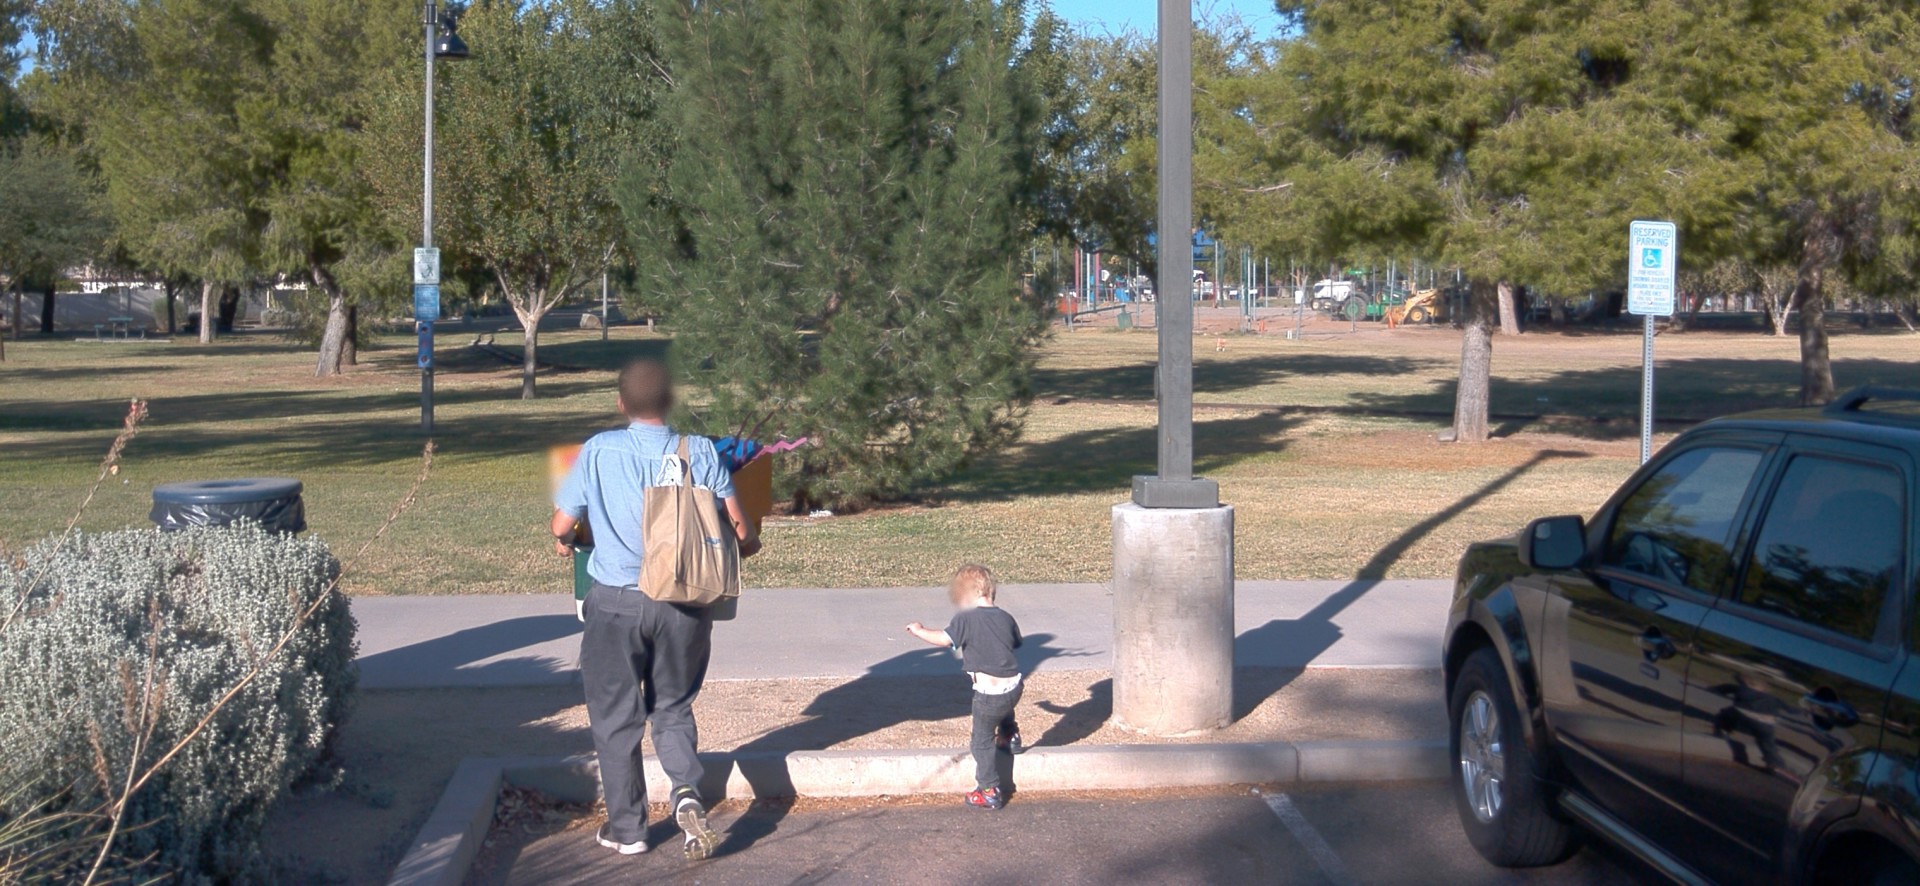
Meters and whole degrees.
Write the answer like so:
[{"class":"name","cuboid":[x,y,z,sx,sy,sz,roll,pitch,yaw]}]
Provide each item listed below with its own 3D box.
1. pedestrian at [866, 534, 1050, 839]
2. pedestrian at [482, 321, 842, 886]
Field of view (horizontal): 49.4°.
[{"class":"pedestrian","cuboid":[-0.014,0.881,7.778,0.537,0.990,0.535,-1,1,-19]},{"class":"pedestrian","cuboid":[-1.029,0.509,7.042,1.003,1.790,0.998,-1,1,-21]}]
